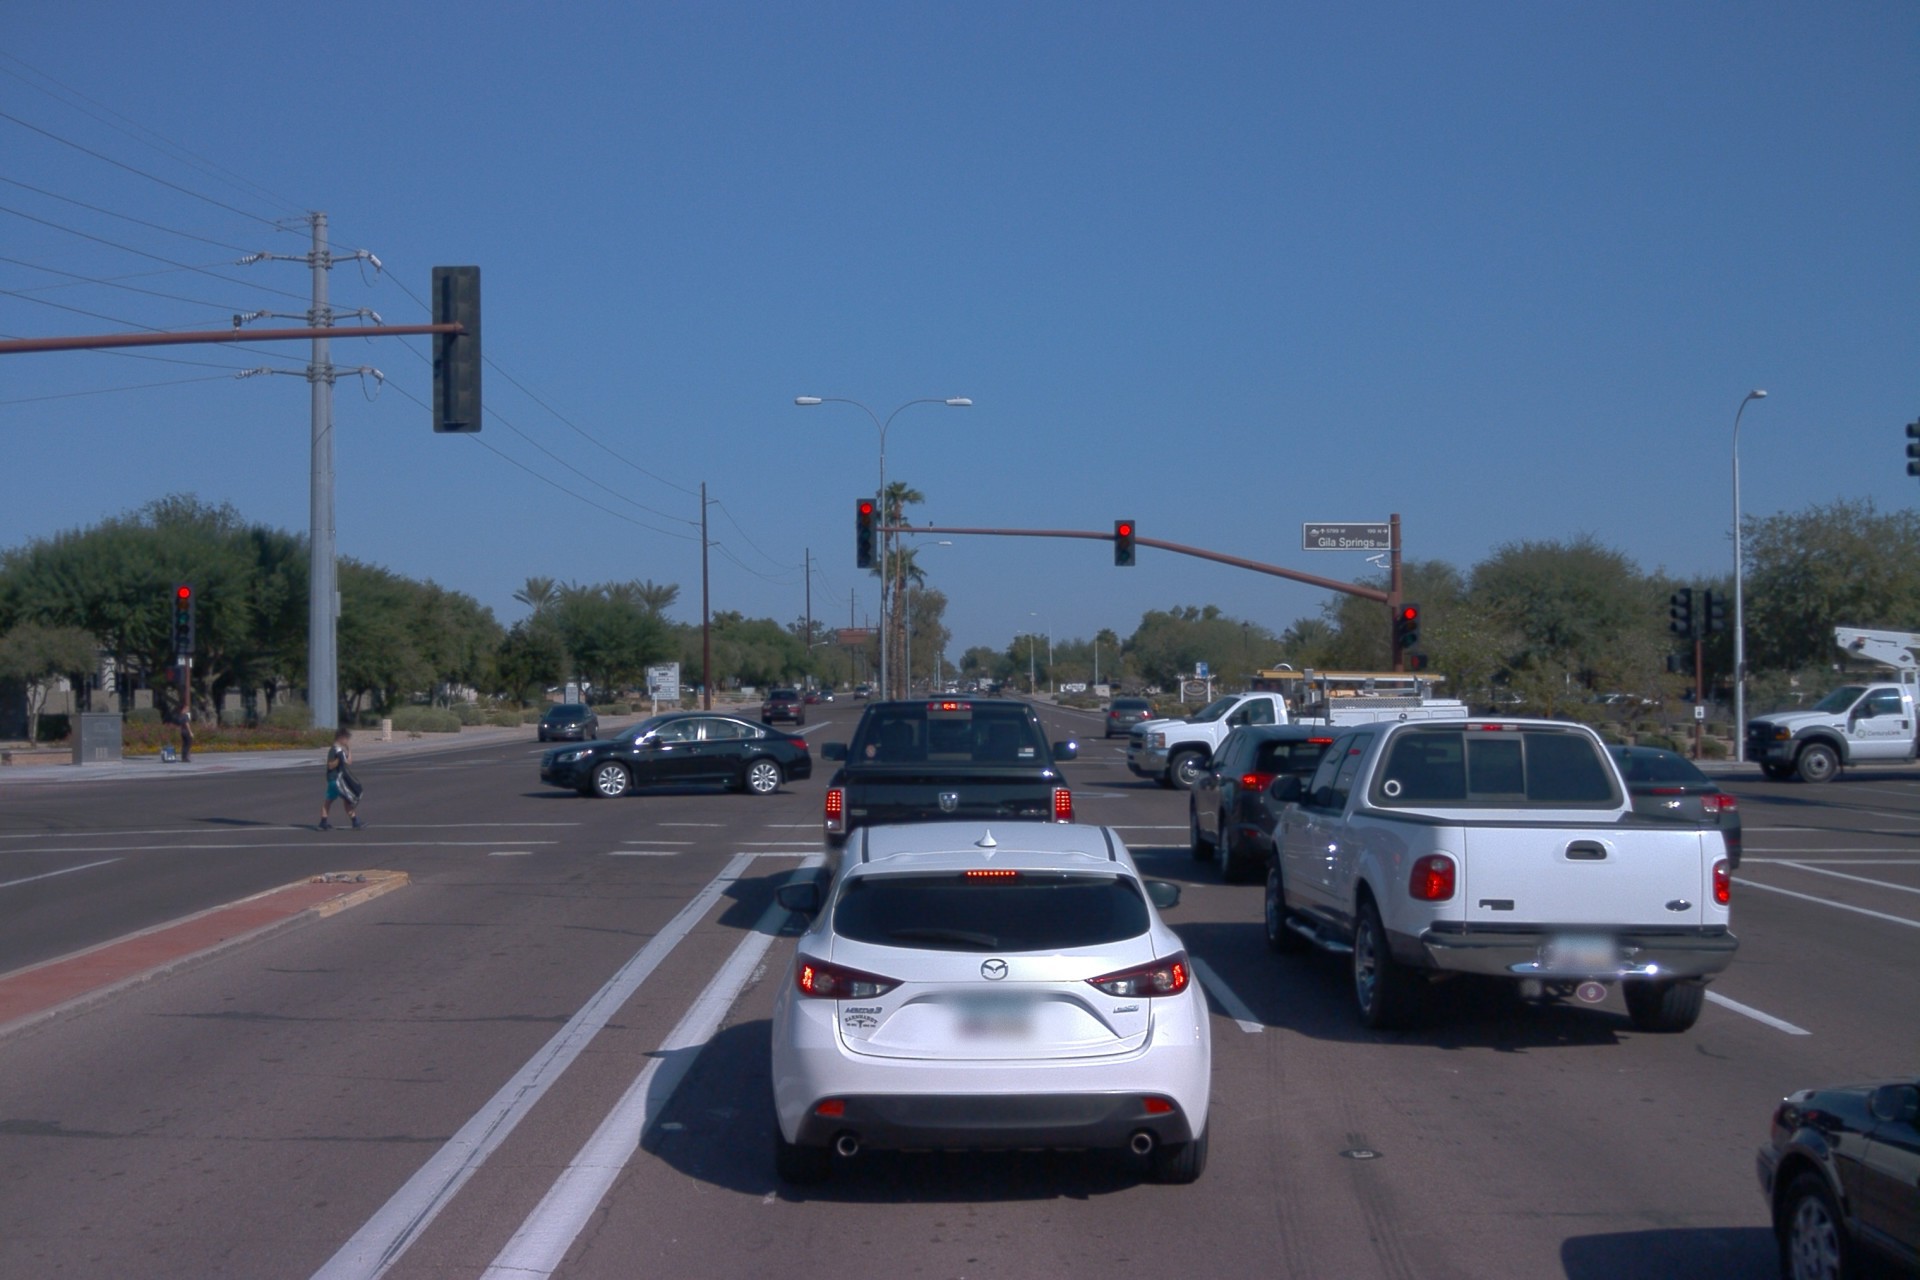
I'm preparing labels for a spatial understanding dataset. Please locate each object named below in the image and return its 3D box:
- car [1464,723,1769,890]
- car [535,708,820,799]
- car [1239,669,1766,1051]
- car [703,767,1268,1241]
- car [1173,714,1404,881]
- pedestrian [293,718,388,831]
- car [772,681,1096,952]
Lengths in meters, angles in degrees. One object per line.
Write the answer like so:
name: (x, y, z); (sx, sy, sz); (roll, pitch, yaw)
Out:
car: (6.828, 1.681, 22.163); (1.828, 1.540, 4.447); (0, -1, 0)
car: (-5.075, 1.998, 37.394); (4.715, 1.530, 1.934); (1, -1, -23)
car: (3.314, 1.268, 14.065); (2.073, 2.070, 5.518); (0, -1, 0)
car: (0.100, 1.494, 10.065); (2.099, 1.600, 4.628); (0, -1, 0)
car: (3.488, 1.644, 22.836); (1.789, 1.630, 4.213); (0, -1, -1)
pedestrian: (-8.502, 1.837, 28.610); (1.087, 1.530, 0.743); (0, -1, -1)
car: (-0.127, 1.428, 18.569); (2.500, 2.080, 5.001); (0, -1, 2)
